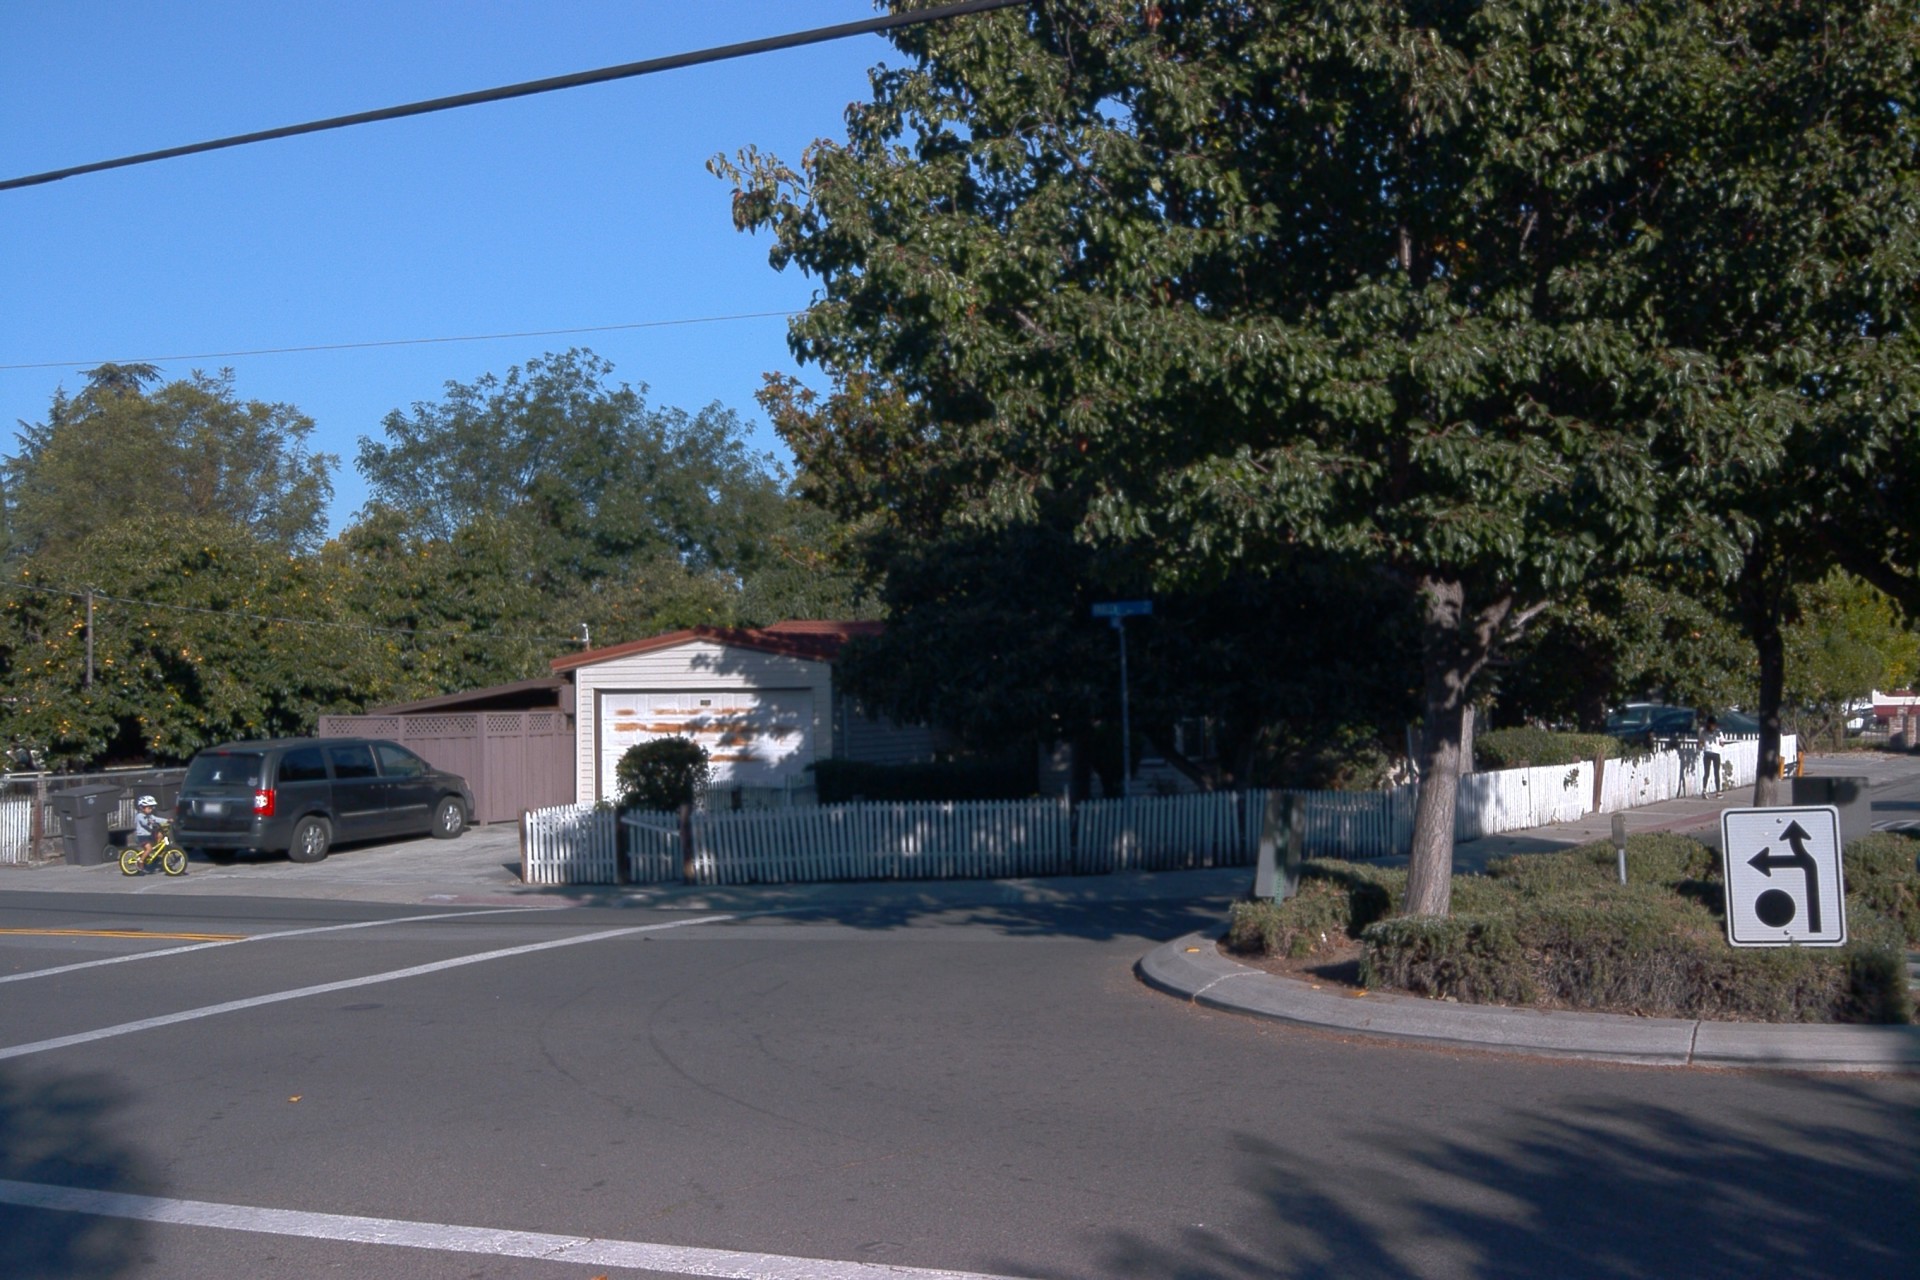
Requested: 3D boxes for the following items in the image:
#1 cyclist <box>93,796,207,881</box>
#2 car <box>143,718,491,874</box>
[{"bbox_3d":[-11.049,2.703,28.366,1.328,1.030,0.693,1,0,24],"label":"cyclist"},{"bbox_3d":[-9.492,2.239,31.166,2.140,1.930,4.988,1,0,25],"label":"car"}]
